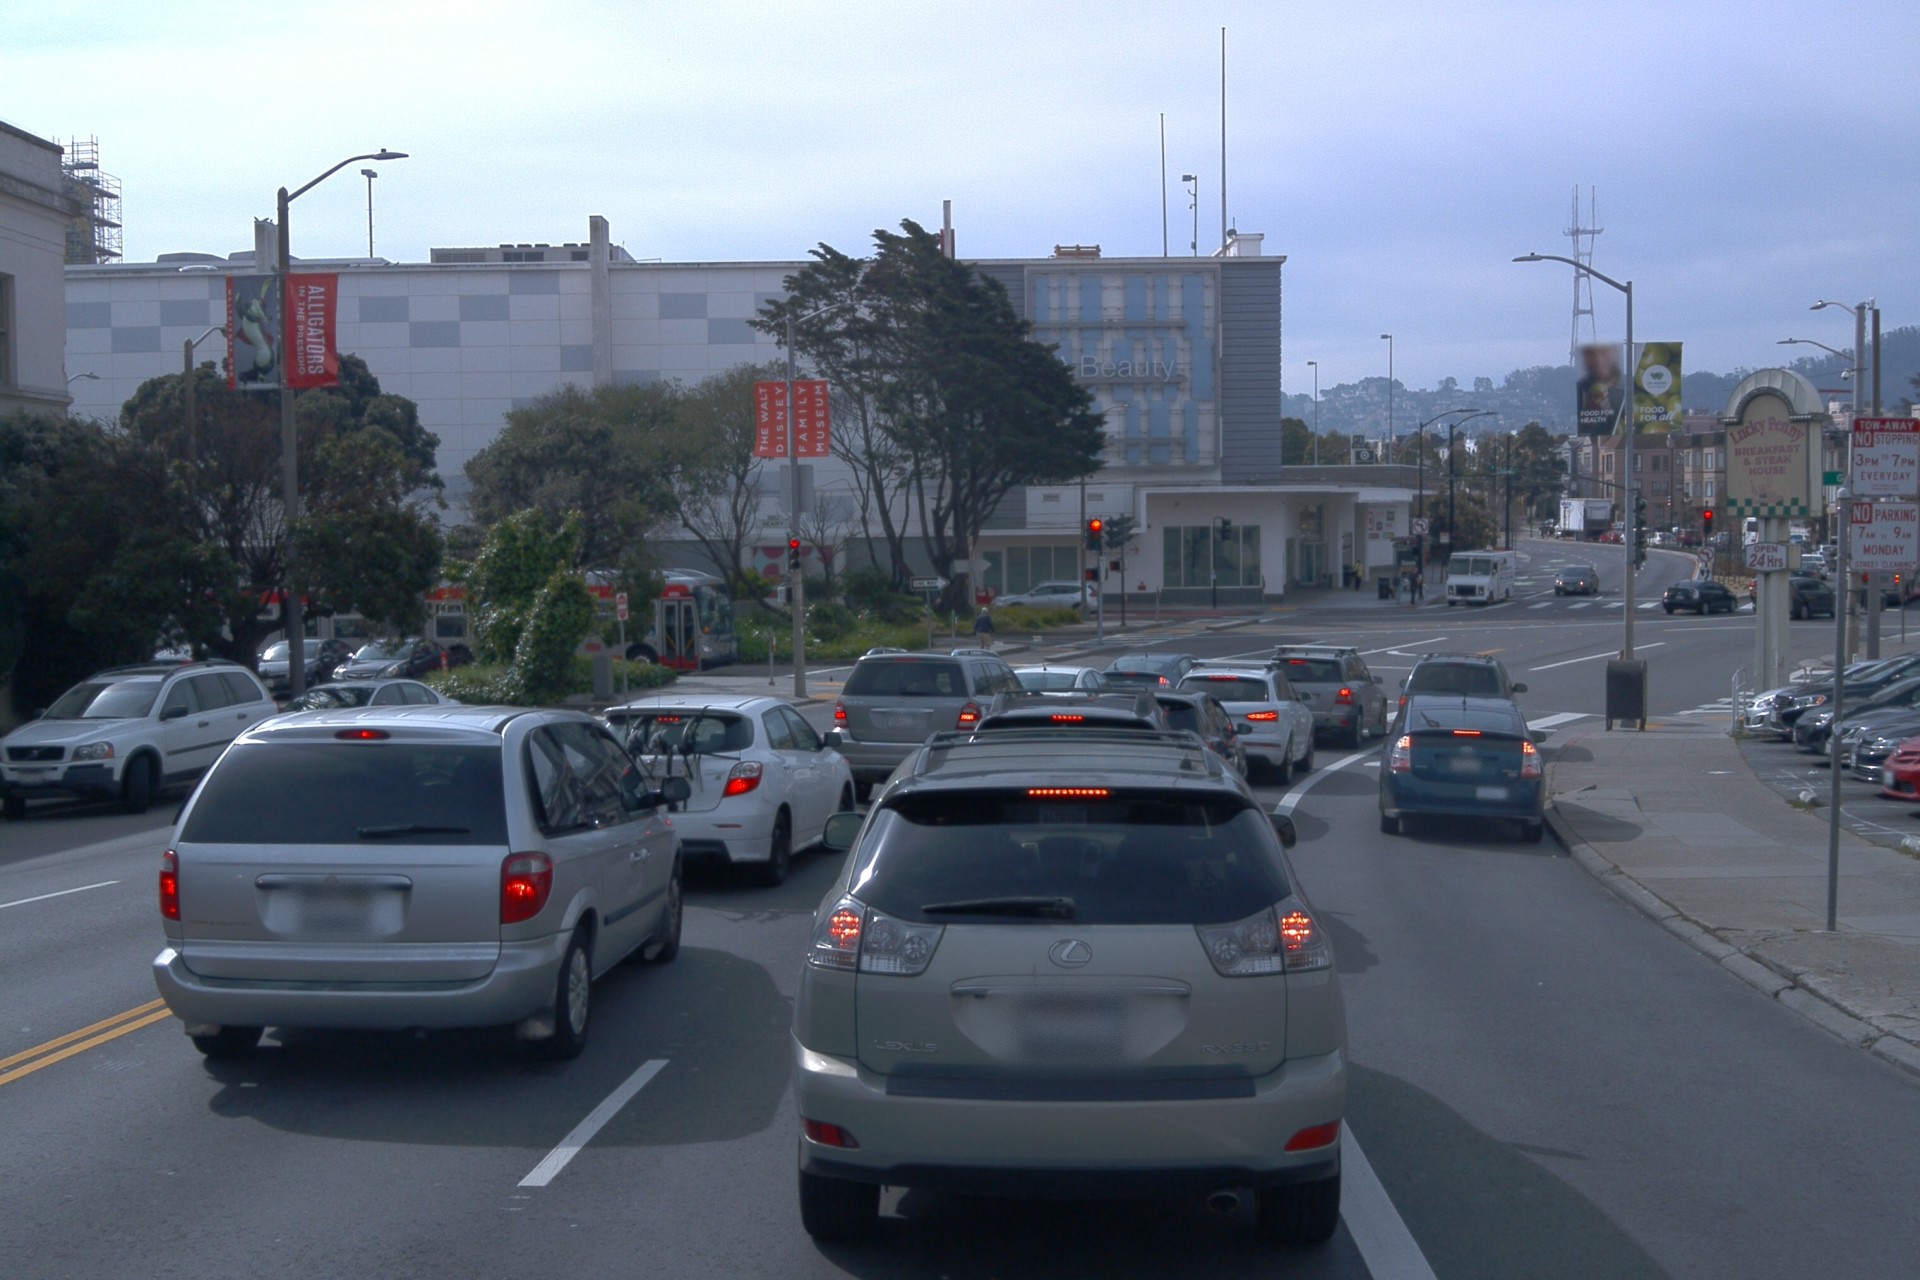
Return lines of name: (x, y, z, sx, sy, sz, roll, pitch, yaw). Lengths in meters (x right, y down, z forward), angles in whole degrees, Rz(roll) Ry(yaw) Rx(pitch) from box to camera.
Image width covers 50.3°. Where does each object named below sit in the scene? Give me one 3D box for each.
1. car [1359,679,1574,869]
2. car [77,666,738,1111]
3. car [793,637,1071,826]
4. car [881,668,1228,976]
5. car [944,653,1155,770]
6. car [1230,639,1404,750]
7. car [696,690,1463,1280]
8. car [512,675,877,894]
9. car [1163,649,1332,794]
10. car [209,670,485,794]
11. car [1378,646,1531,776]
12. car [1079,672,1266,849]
car: (5.628, 1.407, 23.175, 2.113, 1.790, 4.645, 1, 0, 12)
car: (-2.683, 1.111, 11.268, 2.131, 1.830, 4.635, 1, 0, 4)
car: (-0.211, 1.022, 25.531, 2.236, 2.100, 4.827, 1, 0, 15)
car: (0.882, 1.201, 15.458, 2.119, 1.870, 4.391, 1, 0, 9)
car: (1.531, 1.073, 32.740, 2.220, 1.670, 4.643, 1, 0, 18)
car: (6.641, 0.931, 37.538, 2.226, 1.850, 5.307, 1, 0, 20)
car: (0.408, 1.168, 8.139, 2.197, 1.780, 4.467, 1, 0, 2)
car: (-2.124, 1.129, 17.679, 1.982, 1.530, 4.306, 1, 0, 9)
car: (4.180, 1.090, 29.250, 1.795, 1.880, 4.044, 1, 0, 17)
car: (-9.229, 1.328, 31.230, 1.977, 1.640, 4.663, 1, 0, 13)
car: (8.558, 1.130, 35.070, 2.203, 2.020, 4.801, 1, 0, 18)
car: (2.539, 1.307, 23.697, 1.526, 1.780, 3.939, 1, 0, 15)
